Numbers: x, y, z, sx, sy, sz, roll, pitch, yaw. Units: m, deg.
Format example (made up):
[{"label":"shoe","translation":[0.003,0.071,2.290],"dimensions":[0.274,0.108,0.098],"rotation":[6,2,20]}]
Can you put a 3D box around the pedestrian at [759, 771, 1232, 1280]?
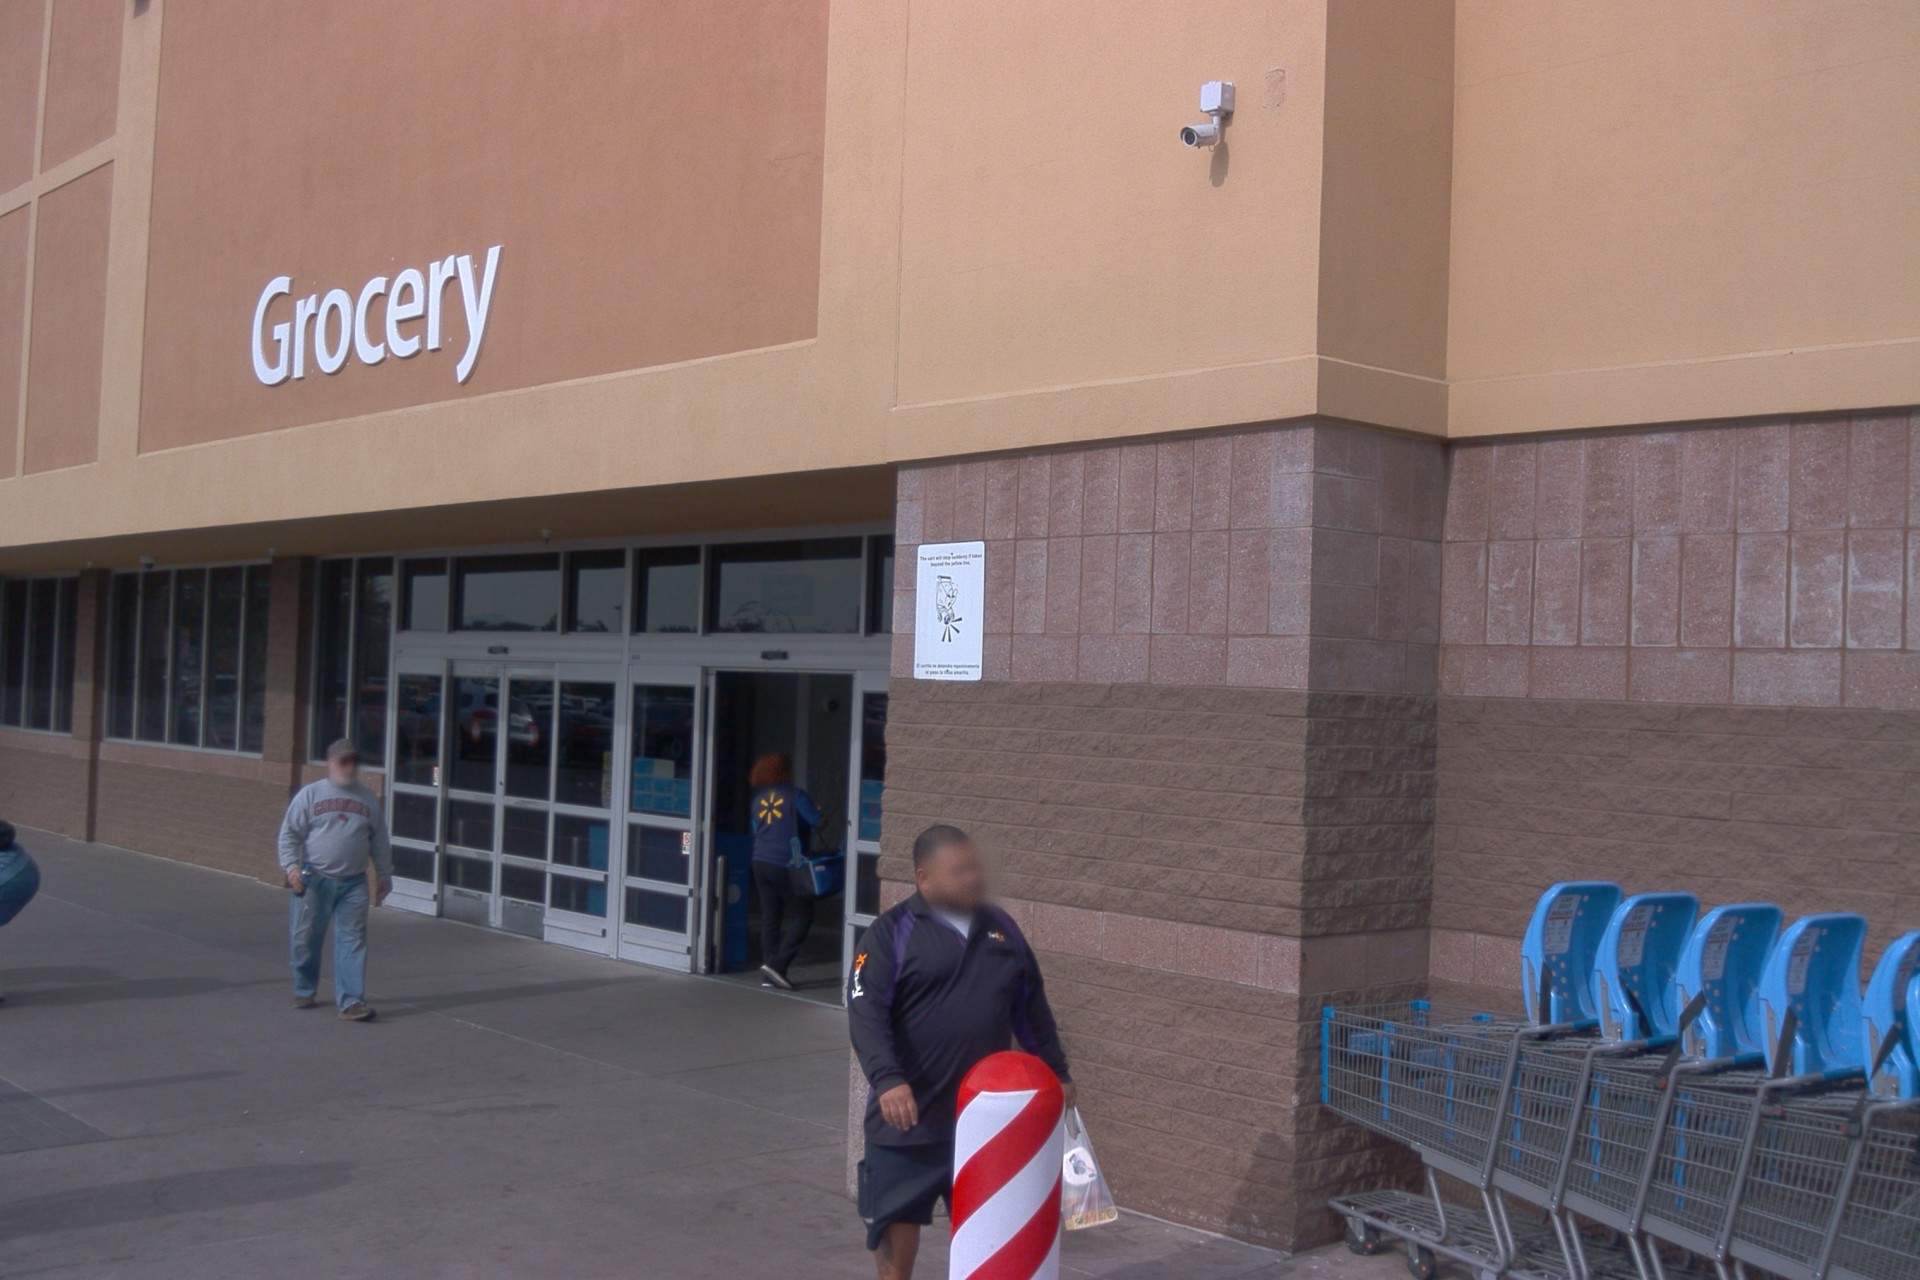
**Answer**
[{"label":"pedestrian","translation":[0.078,1.291,6.293],"dimensions":[1.009,1.720,1.094],"rotation":[1,0,-27]}]

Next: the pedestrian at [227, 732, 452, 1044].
[{"label":"pedestrian","translation":[-3.711,1.429,12.434],"dimensions":[1.000,1.710,1.000],"rotation":[1,0,-35]}]
